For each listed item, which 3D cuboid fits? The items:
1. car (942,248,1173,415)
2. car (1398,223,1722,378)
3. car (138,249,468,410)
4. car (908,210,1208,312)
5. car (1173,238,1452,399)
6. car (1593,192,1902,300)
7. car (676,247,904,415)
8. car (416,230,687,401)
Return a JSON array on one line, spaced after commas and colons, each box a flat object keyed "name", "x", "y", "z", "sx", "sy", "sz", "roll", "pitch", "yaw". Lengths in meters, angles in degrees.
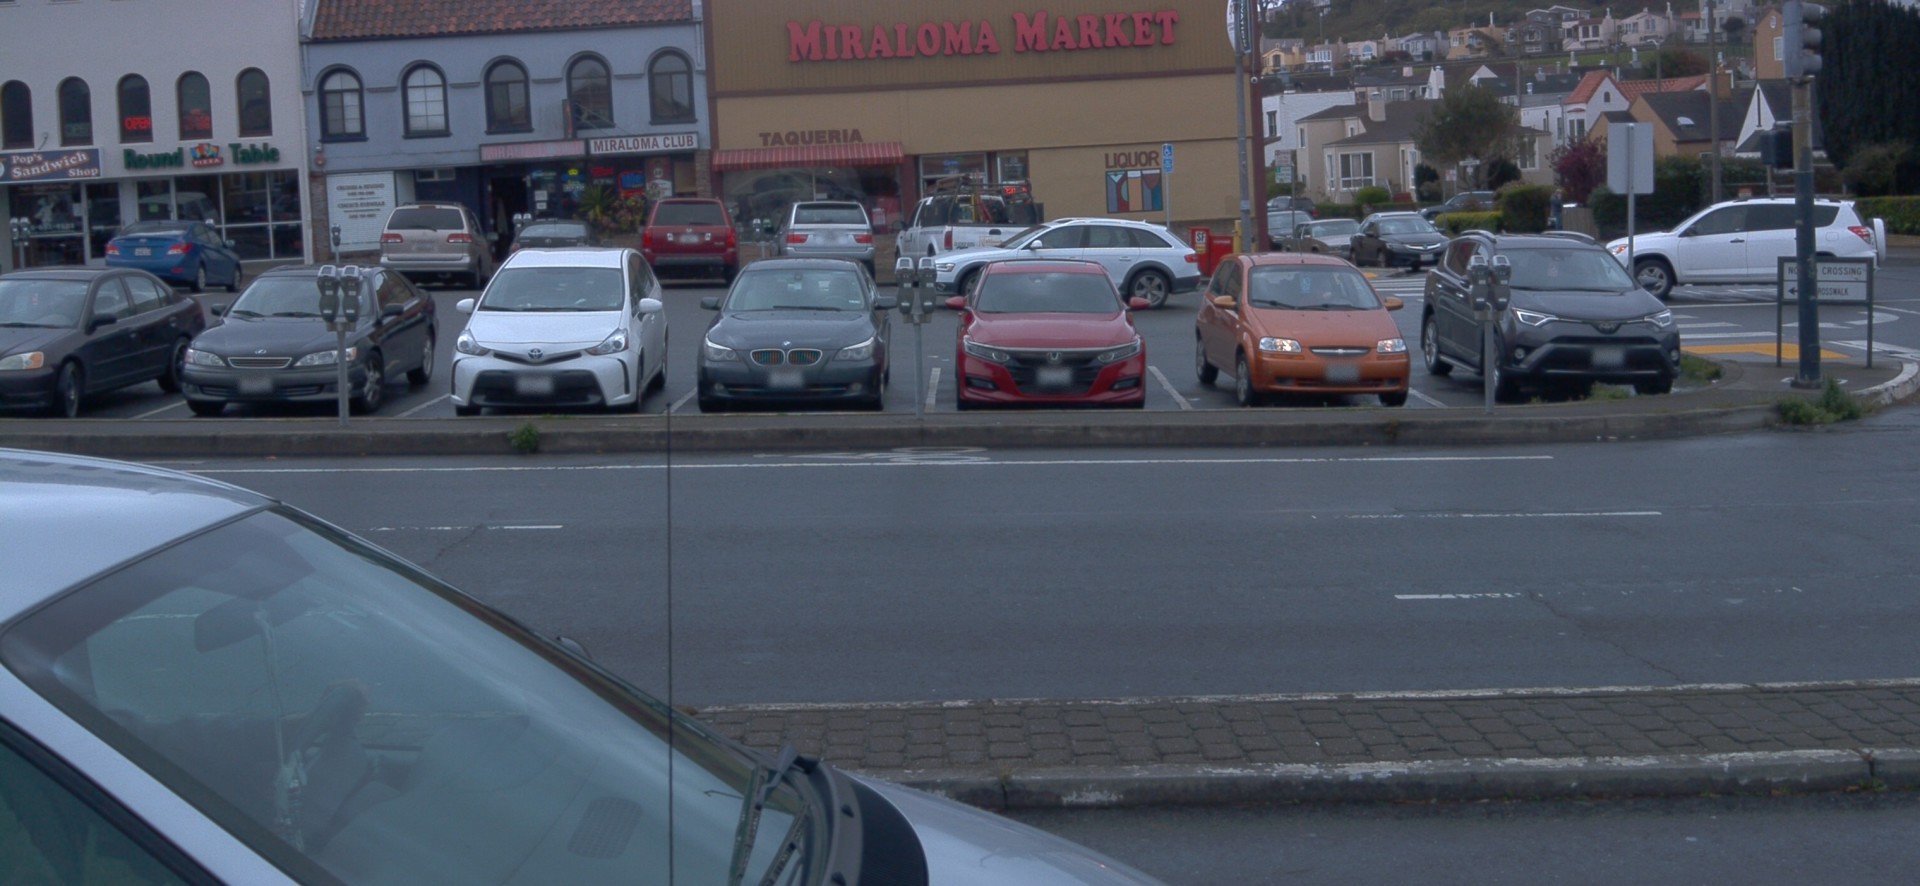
[{"name": "car", "x": 0.905, "y": -1.270, "z": 21.830, "sx": 2.185, "sy": 1.461, "sz": 4.636, "roll": 0, "pitch": 6, "yaw": -1}, {"name": "car", "x": 6.387, "y": -1.641, "z": 22.575, "sx": 2.205, "sy": 1.461, "sz": 4.580, "roll": 0, "pitch": 6, "yaw": 0}, {"name": "car", "x": -6.720, "y": -1.286, "z": 21.702, "sx": 2.023, "sy": 1.392, "sz": 4.712, "roll": 0, "pitch": 6, "yaw": -1}, {"name": "car", "x": 1.586, "y": -3.064, "z": 34.337, "sx": 4.663, "sy": 1.604, "sz": 2.076, "roll": -1, "pitch": 5, "yaw": -10}, {"name": "car", "x": 3.599, "y": -1.397, "z": 21.818, "sx": 2.049, "sy": 1.462, "sz": 4.037, "roll": 0, "pitch": 6, "yaw": -4}, {"name": "car", "x": 13.229, "y": -3.366, "z": 34.824, "sx": 4.725, "sy": 1.733, "sz": 2.071, "roll": 2, "pitch": 5, "yaw": 20}, {"name": "car", "x": -1.660, "y": -1.270, "z": 21.658, "sx": 2.112, "sy": 1.461, "sz": 4.574, "roll": 0, "pitch": 6, "yaw": -1}, {"name": "car", "x": -4.060, "y": -1.416, "z": 21.301, "sx": 2.132, "sy": 1.491, "sz": 4.678, "roll": 0, "pitch": 6, "yaw": -4}]
